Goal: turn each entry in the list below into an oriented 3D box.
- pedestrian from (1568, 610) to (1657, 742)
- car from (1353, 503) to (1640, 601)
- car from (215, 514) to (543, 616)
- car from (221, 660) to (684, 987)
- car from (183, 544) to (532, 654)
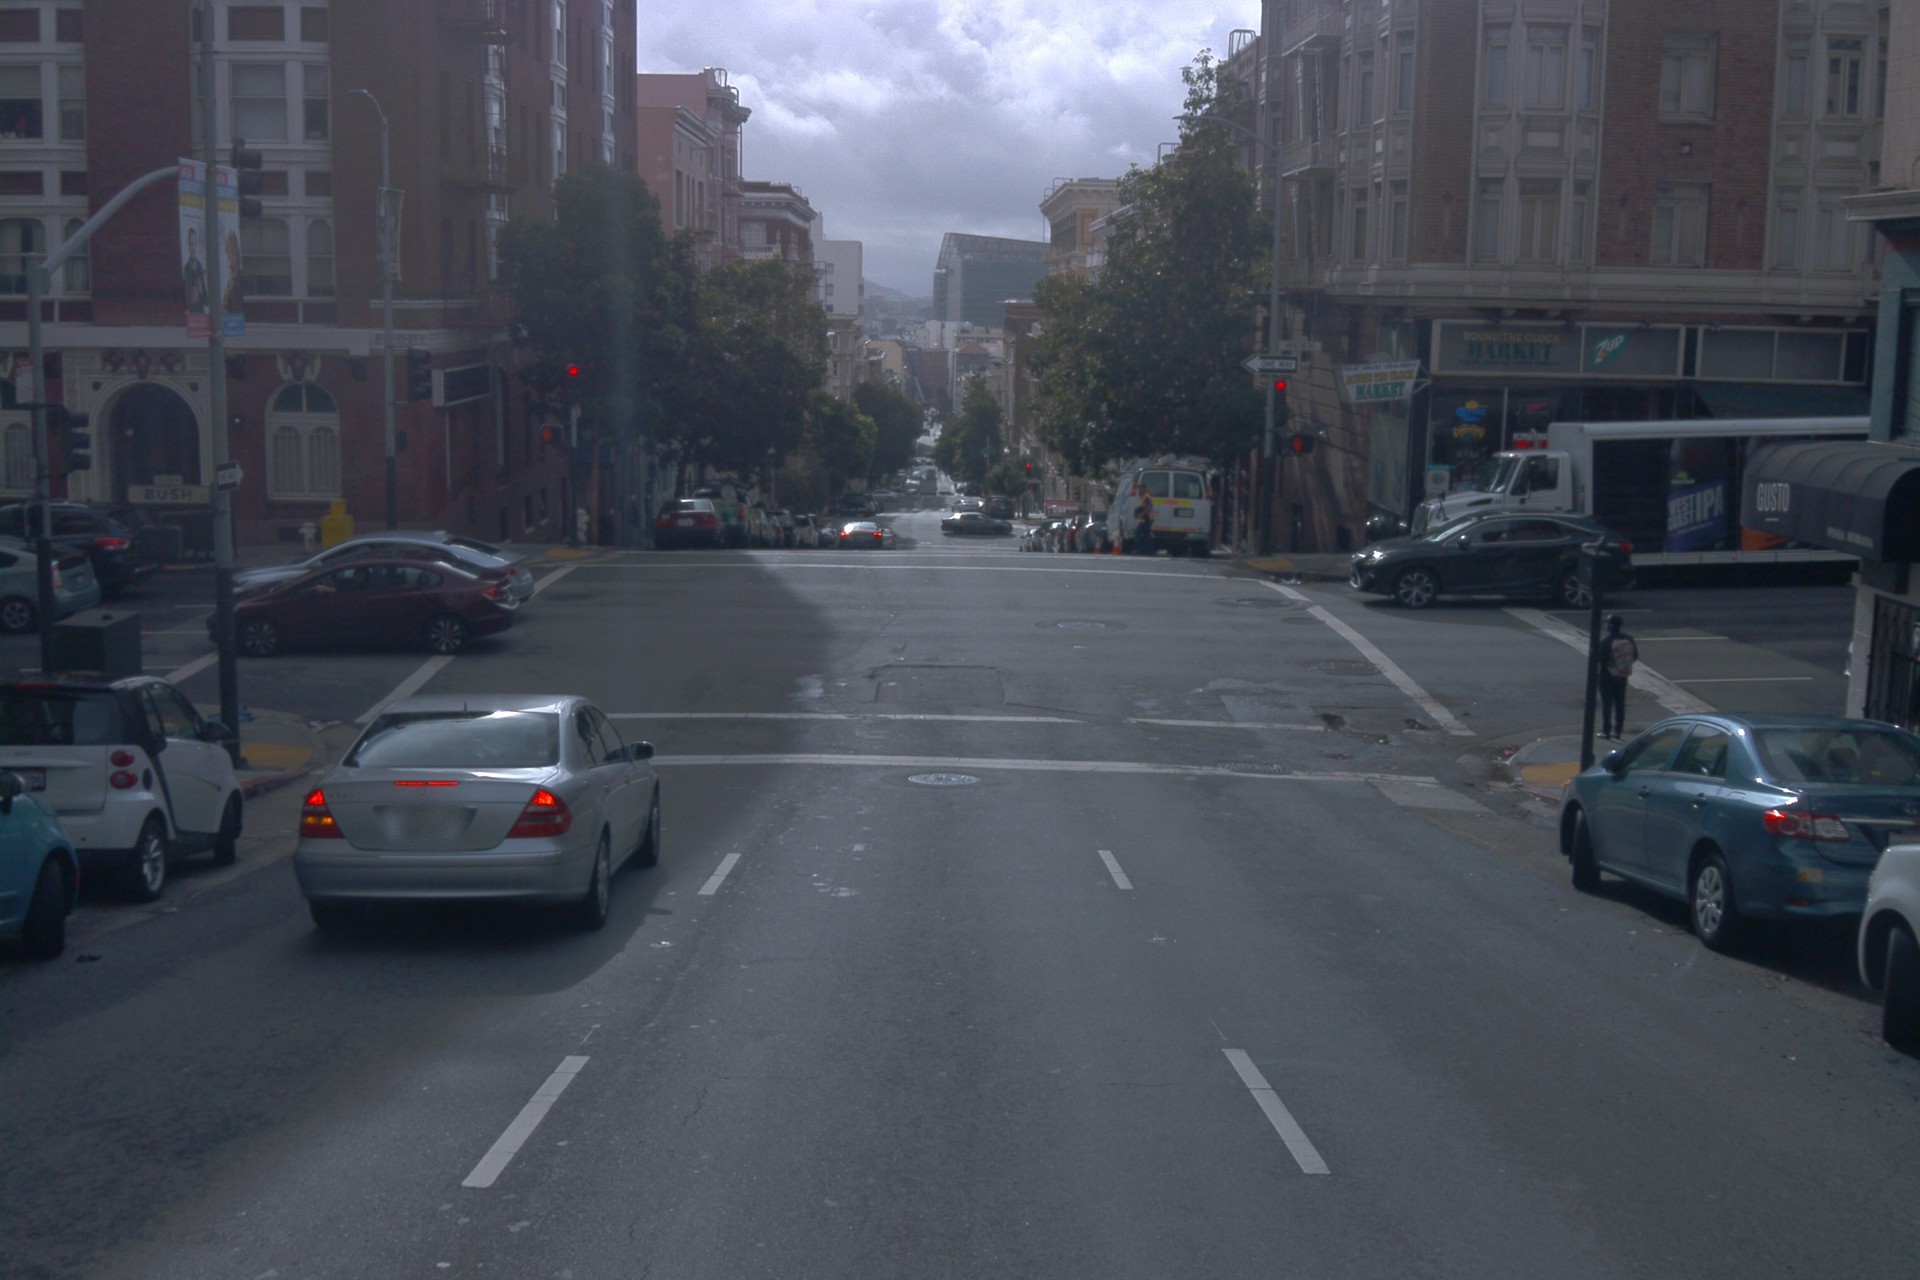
[{"bbox_3d":[8.059,0.435,25.286,0.752,1.590,0.926,1,1,-2],"label":"pedestrian"},{"bbox_3d":[9.419,-1.542,36.261,4.650,1.608,2.129,1,1,7],"label":"car"},{"bbox_3d":[-9.277,-1.184,32.913,4.737,1.500,1.876,1,1,-1],"label":"car"},{"bbox_3d":[-3.186,1.065,13.912,2.074,1.700,4.689,1,1,-2],"label":"car"},{"bbox_3d":[-8.850,-0.598,30.378,4.627,1.479,2.033,1,1,-5],"label":"car"}]
